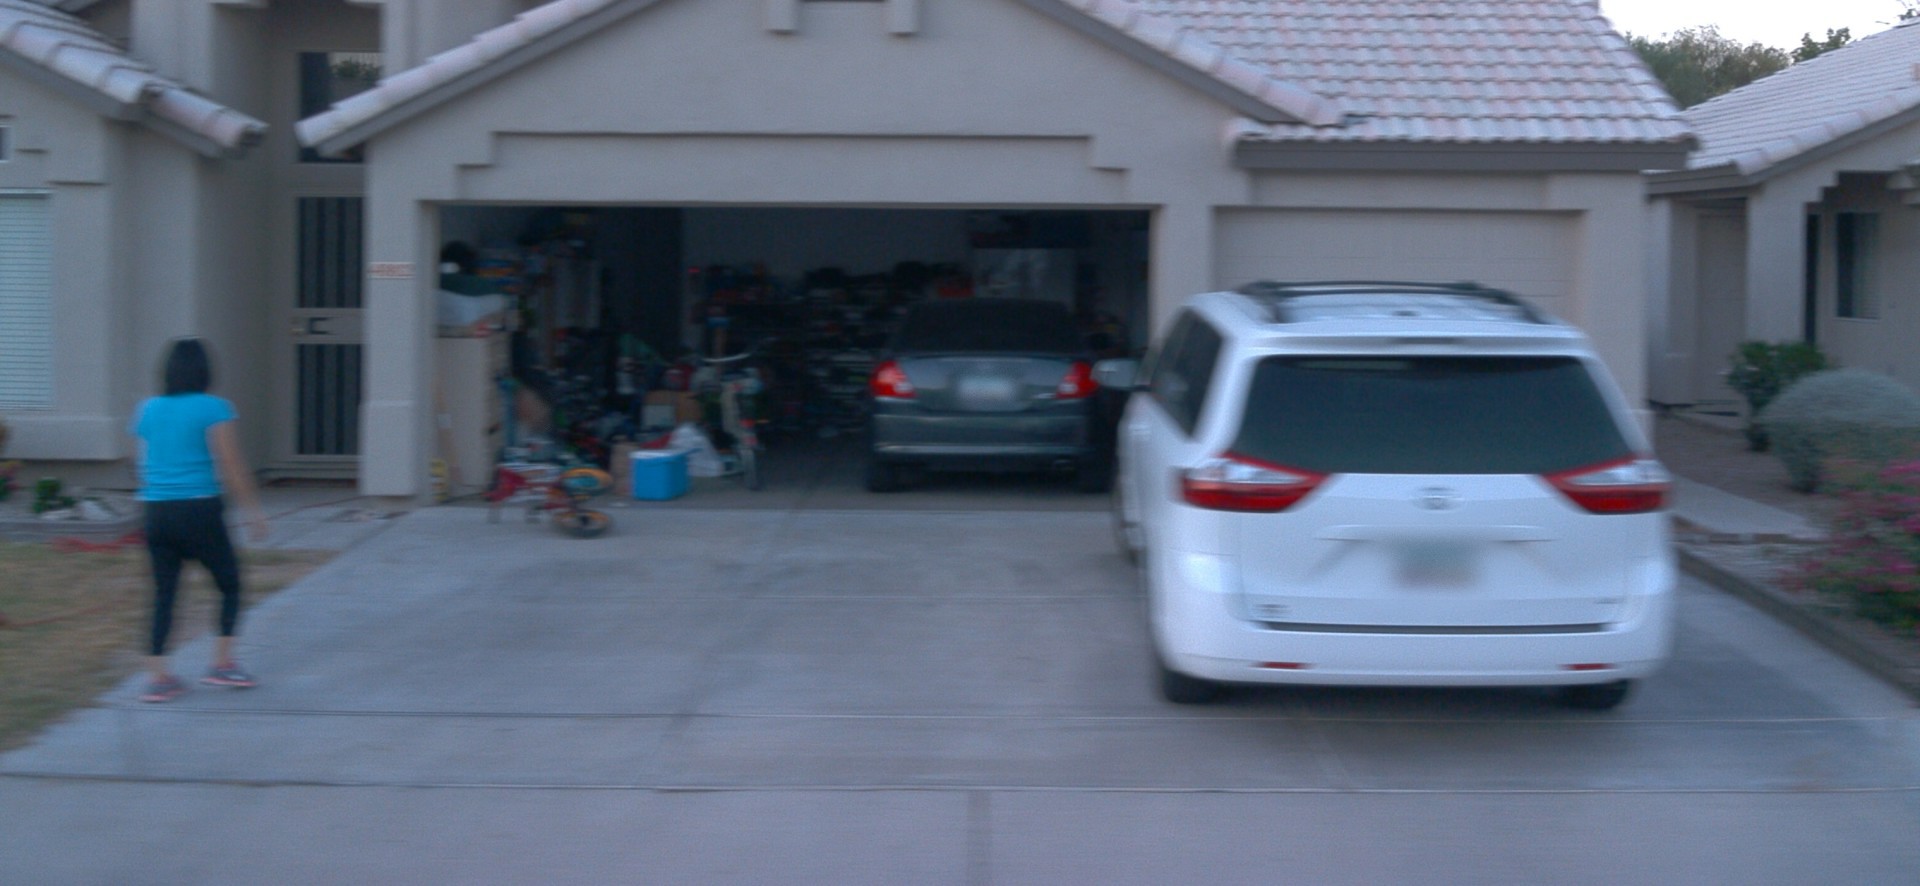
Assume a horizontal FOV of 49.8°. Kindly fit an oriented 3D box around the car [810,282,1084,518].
[{"bbox_3d":[-0.055,-0.473,16.591,1.890,1.514,4.596,0,5,1],"label":"car"}]

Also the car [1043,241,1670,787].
[{"bbox_3d":[1.608,0.019,10.364,2.358,2.032,5.070,0,5,2],"label":"car"}]
